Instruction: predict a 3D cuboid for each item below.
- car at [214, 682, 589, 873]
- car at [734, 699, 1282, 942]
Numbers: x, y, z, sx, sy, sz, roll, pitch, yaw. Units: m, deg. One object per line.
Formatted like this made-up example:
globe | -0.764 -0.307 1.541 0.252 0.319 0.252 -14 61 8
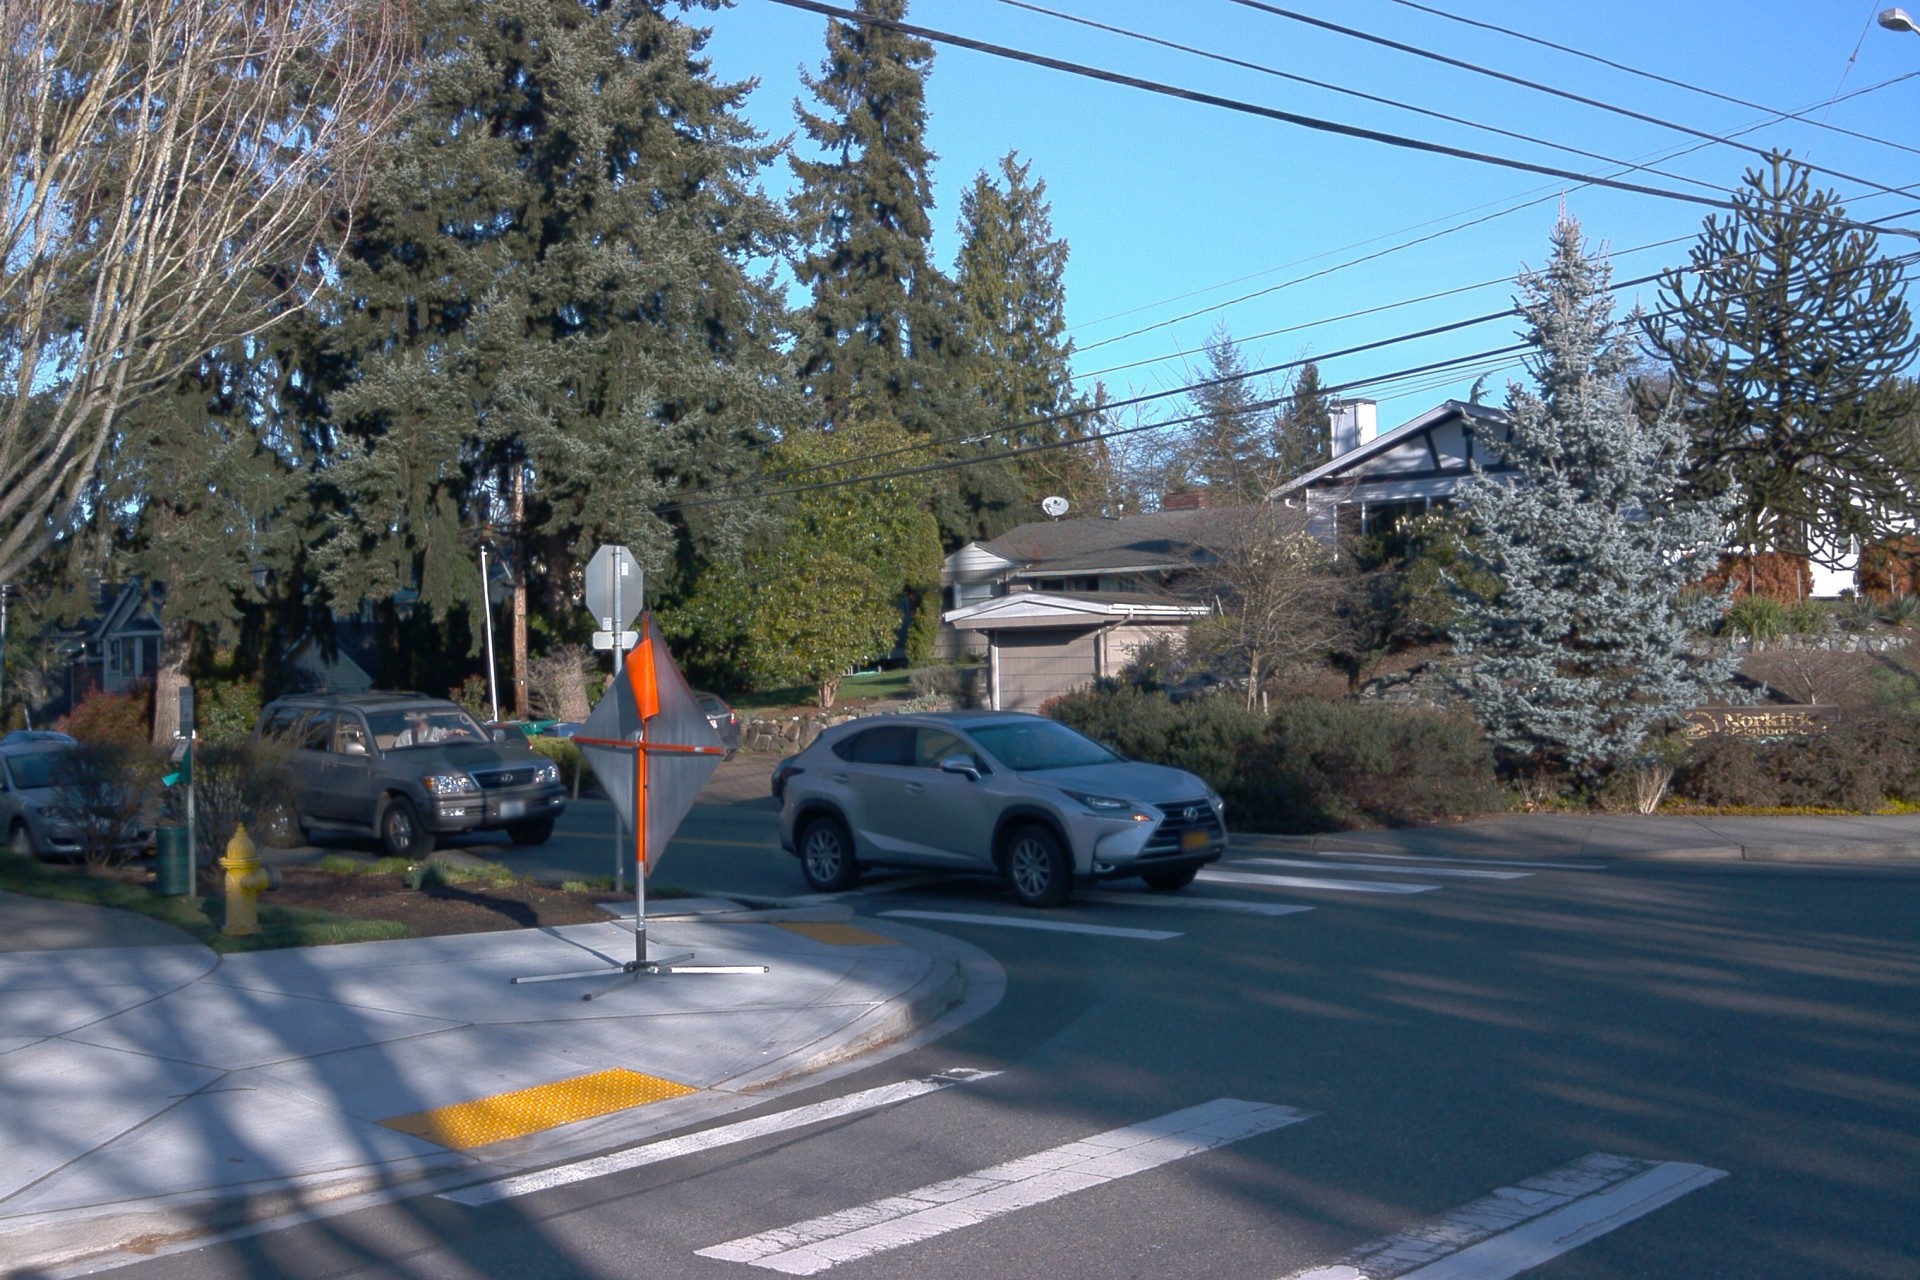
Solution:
car | -6.943 1.572 25.335 2.286 1.930 5.007 -1 1 -44
car | 0.310 1.472 18.478 2.196 1.680 4.682 -1 1 -45
